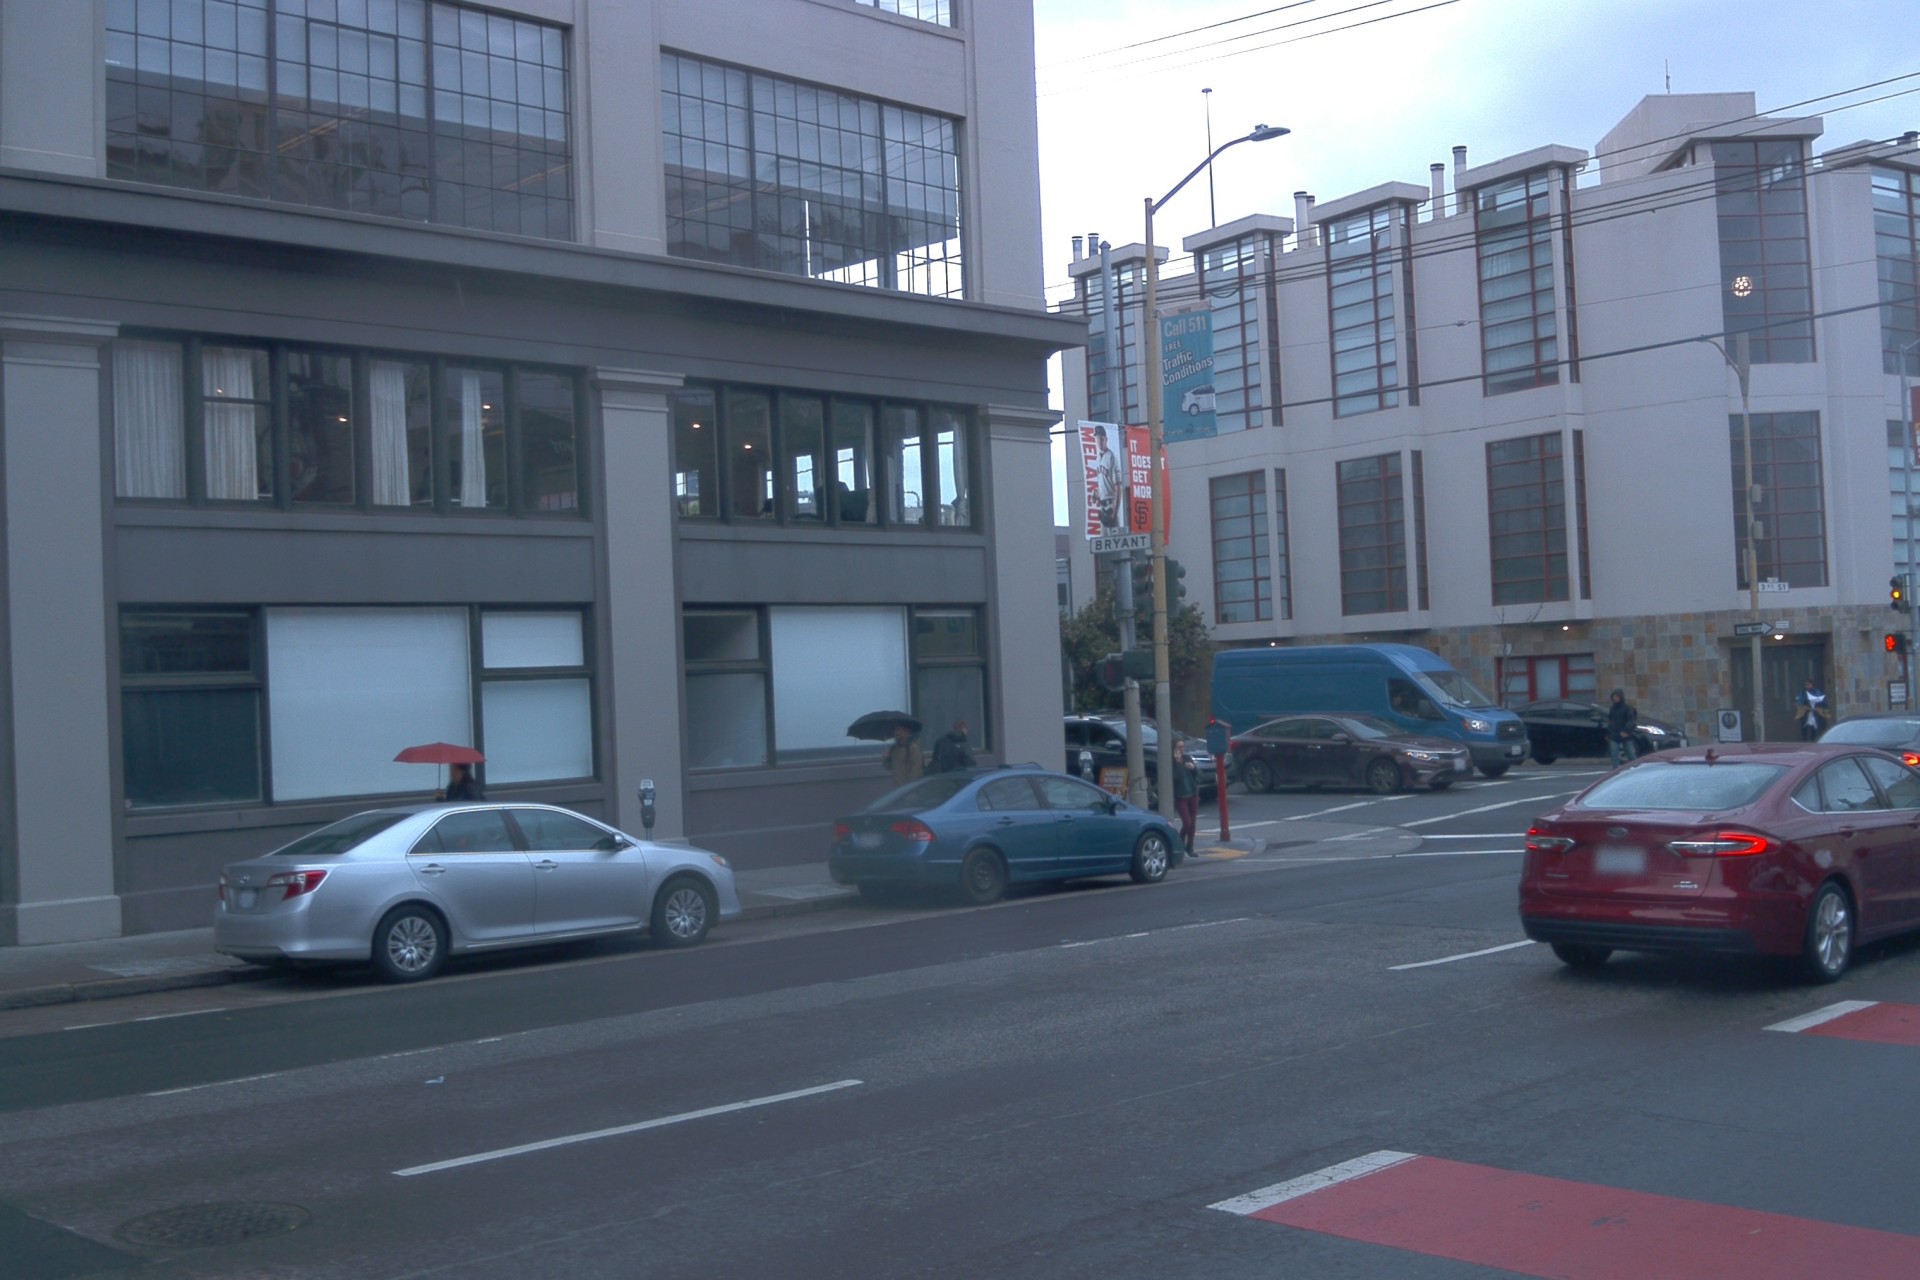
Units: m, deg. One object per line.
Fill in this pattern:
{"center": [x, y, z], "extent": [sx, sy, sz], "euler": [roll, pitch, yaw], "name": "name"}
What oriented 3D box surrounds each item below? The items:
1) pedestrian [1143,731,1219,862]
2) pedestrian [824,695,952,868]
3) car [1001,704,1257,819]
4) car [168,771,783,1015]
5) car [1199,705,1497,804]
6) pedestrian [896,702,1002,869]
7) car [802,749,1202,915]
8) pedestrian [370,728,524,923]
{"center": [2.940, 2.070, 27.713], "extent": [0.825, 1.670, 0.591], "euler": [0, 0, -35], "name": "pedestrian"}
{"center": [-0.919, 1.772, 26.585], "extent": [1.132, 2.110, 1.190], "euler": [0, 0, 45], "name": "pedestrian"}
{"center": [3.024, 2.152, 37.900], "extent": [2.022, 1.830, 4.394], "euler": [0, 0, -44], "name": "car"}
{"center": [-4.141, 2.094, 18.424], "extent": [4.989, 1.570, 2.014], "euler": [0, 0, -44], "name": "car"}
{"center": [6.981, 2.022, 37.797], "extent": [2.239, 1.530, 4.968], "euler": [0, 0, -43], "name": "car"}
{"center": [-0.134, 1.787, 25.931], "extent": [0.909, 1.990, 0.967], "euler": [0, 0, 40], "name": "pedestrian"}
{"center": [0.556, 2.050, 23.162], "extent": [4.430, 1.440, 1.913], "euler": [0, 0, -45], "name": "car"}
{"center": [-5.369, 1.905, 21.775], "extent": [1.157, 1.900, 1.124], "euler": [0, 0, -44], "name": "pedestrian"}
